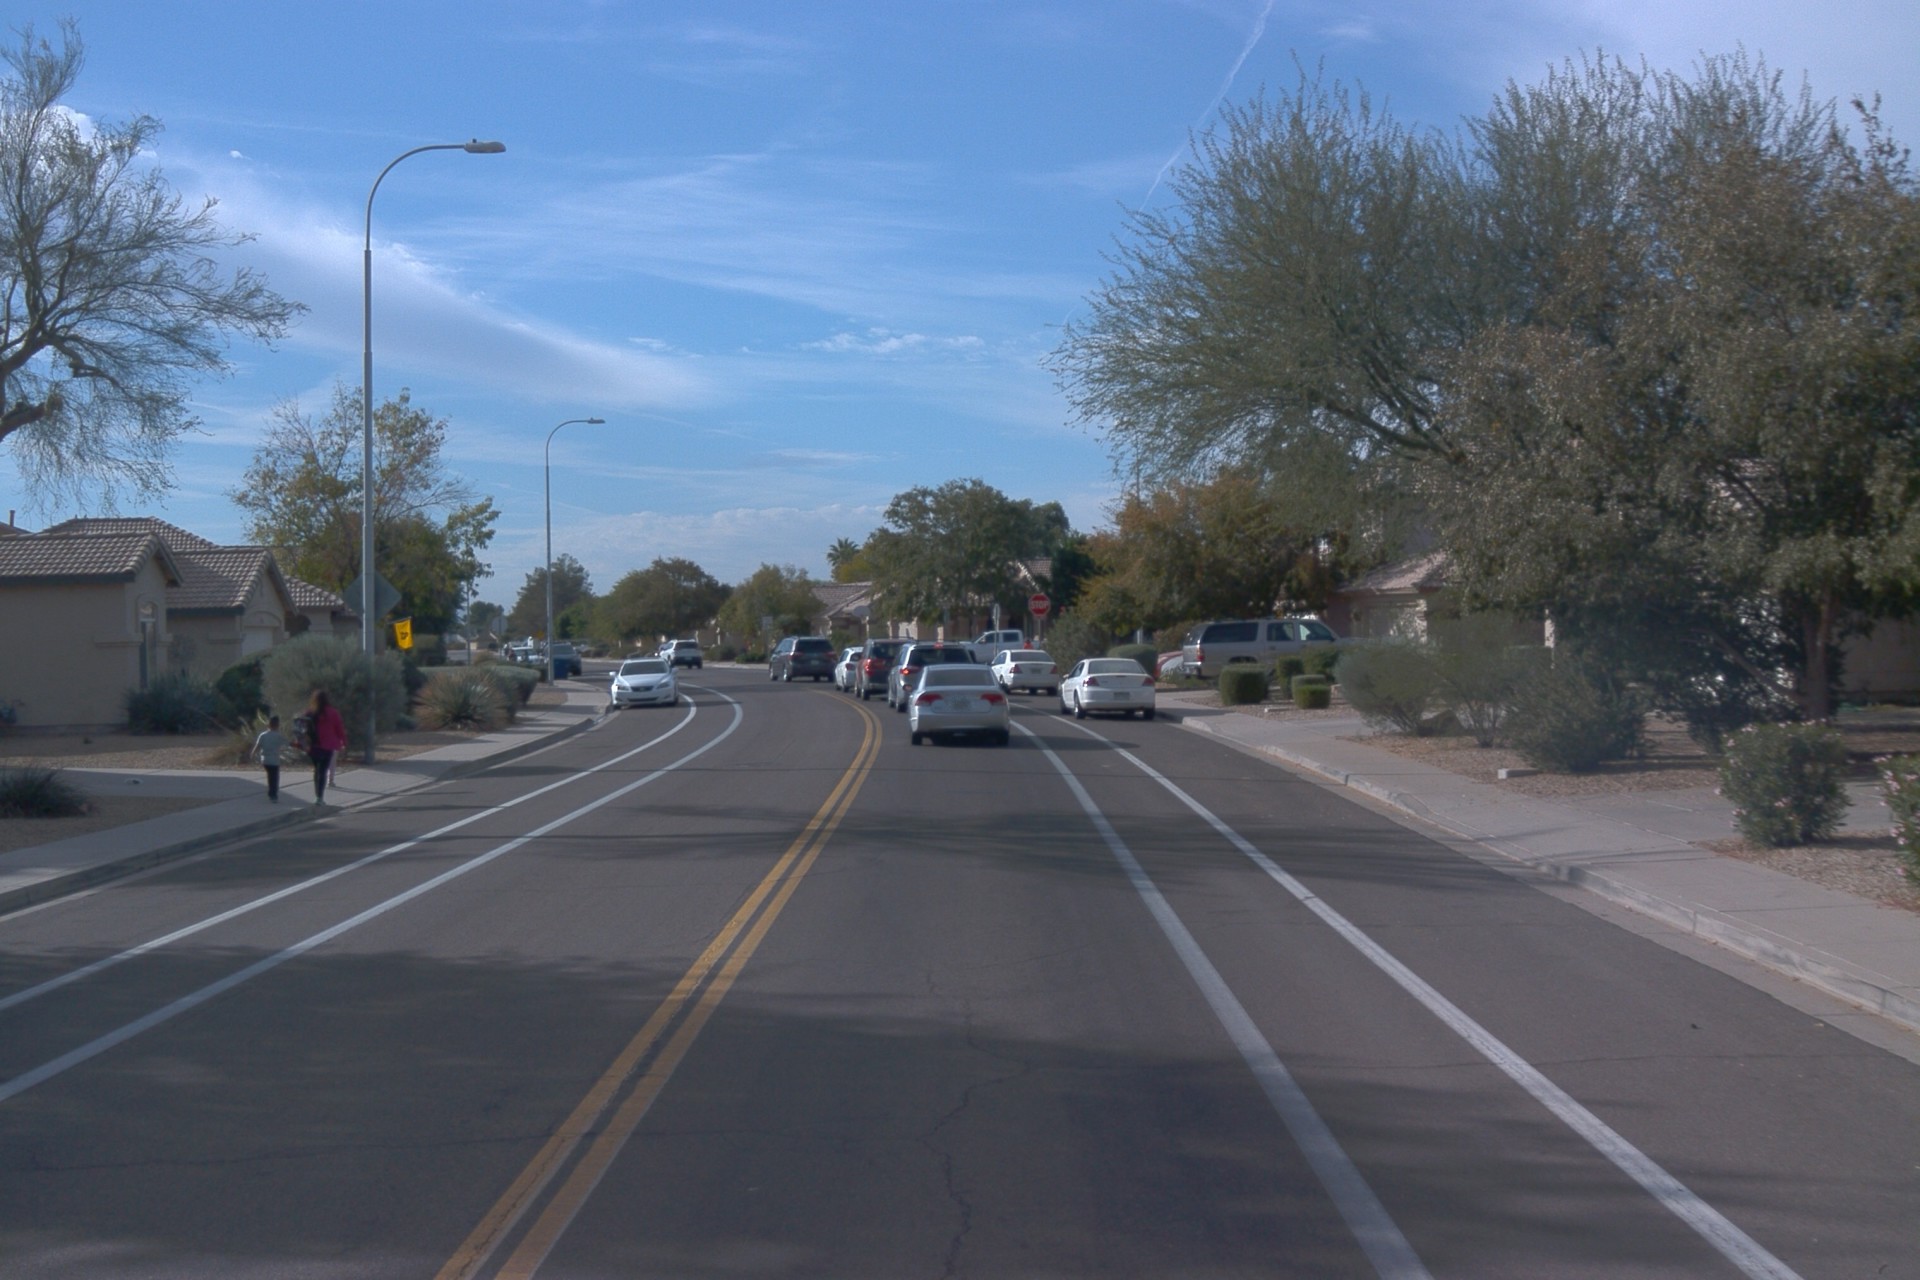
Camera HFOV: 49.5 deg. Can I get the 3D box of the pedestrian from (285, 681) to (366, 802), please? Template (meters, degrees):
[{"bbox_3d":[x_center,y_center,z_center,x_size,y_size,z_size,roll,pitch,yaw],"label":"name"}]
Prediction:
[{"bbox_3d":[-8.434,1.335,27.680,0.782,1.580,0.850,0,-1,2],"label":"pedestrian"}]

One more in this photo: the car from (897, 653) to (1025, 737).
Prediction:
[{"bbox_3d":[-0.042,0.994,38.176,2.121,1.440,4.395,0,-1,-3],"label":"car"}]

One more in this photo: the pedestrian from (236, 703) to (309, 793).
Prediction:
[{"bbox_3d":[-9.087,1.419,27.508,0.691,1.150,0.794,0,-1,1],"label":"pedestrian"}]
